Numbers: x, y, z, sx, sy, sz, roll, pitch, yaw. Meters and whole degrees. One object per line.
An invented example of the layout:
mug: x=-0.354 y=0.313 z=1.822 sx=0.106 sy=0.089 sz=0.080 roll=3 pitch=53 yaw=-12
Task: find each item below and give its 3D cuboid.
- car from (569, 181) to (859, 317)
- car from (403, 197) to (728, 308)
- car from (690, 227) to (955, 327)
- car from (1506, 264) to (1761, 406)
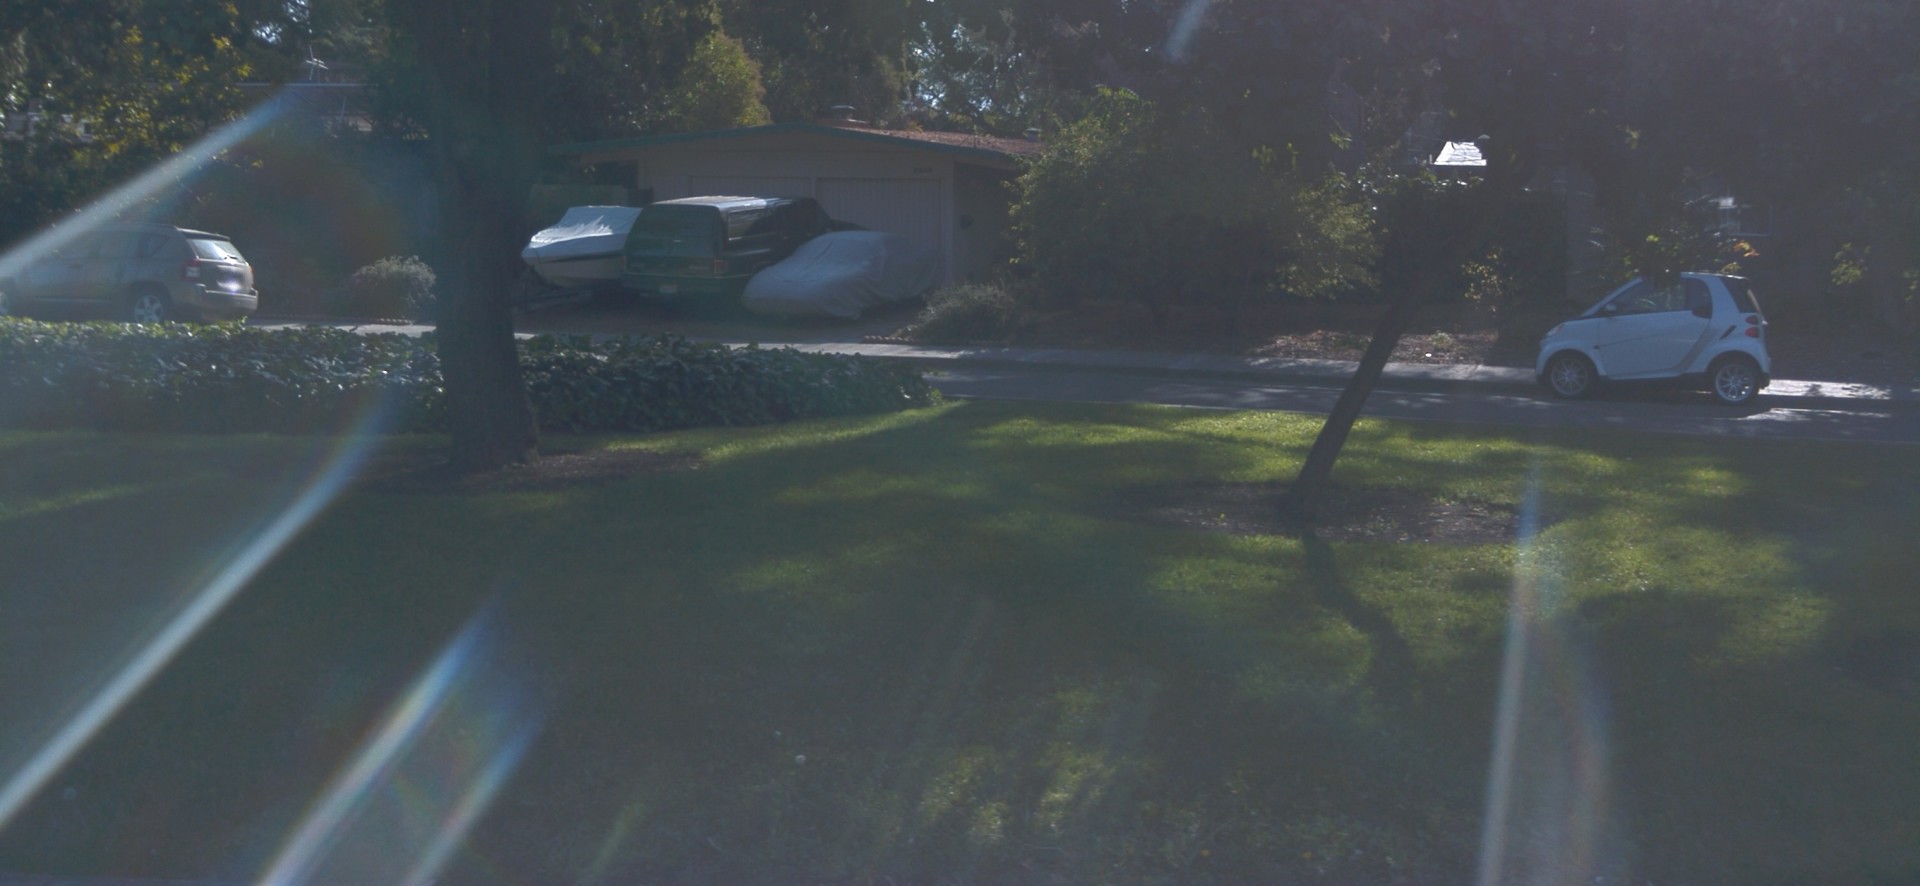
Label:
car: x=-4.027 y=-3.287 z=35.309 sx=2.211 sy=2.104 sz=5.516 roll=2 pitch=5 yaw=26
car: x=-6.521 y=-3.234 z=35.364 sx=2.285 sy=1.714 sz=5.971 roll=2 pitch=5 yaw=25
car: x=-2.152 y=-2.764 z=34.257 sx=2.132 sy=1.495 sz=4.976 roll=2 pitch=5 yaw=26
car: x=7.947 y=-1.311 z=24.535 sx=2.746 sy=1.548 sz=1.665 roll=2 pitch=3 yaw=20
